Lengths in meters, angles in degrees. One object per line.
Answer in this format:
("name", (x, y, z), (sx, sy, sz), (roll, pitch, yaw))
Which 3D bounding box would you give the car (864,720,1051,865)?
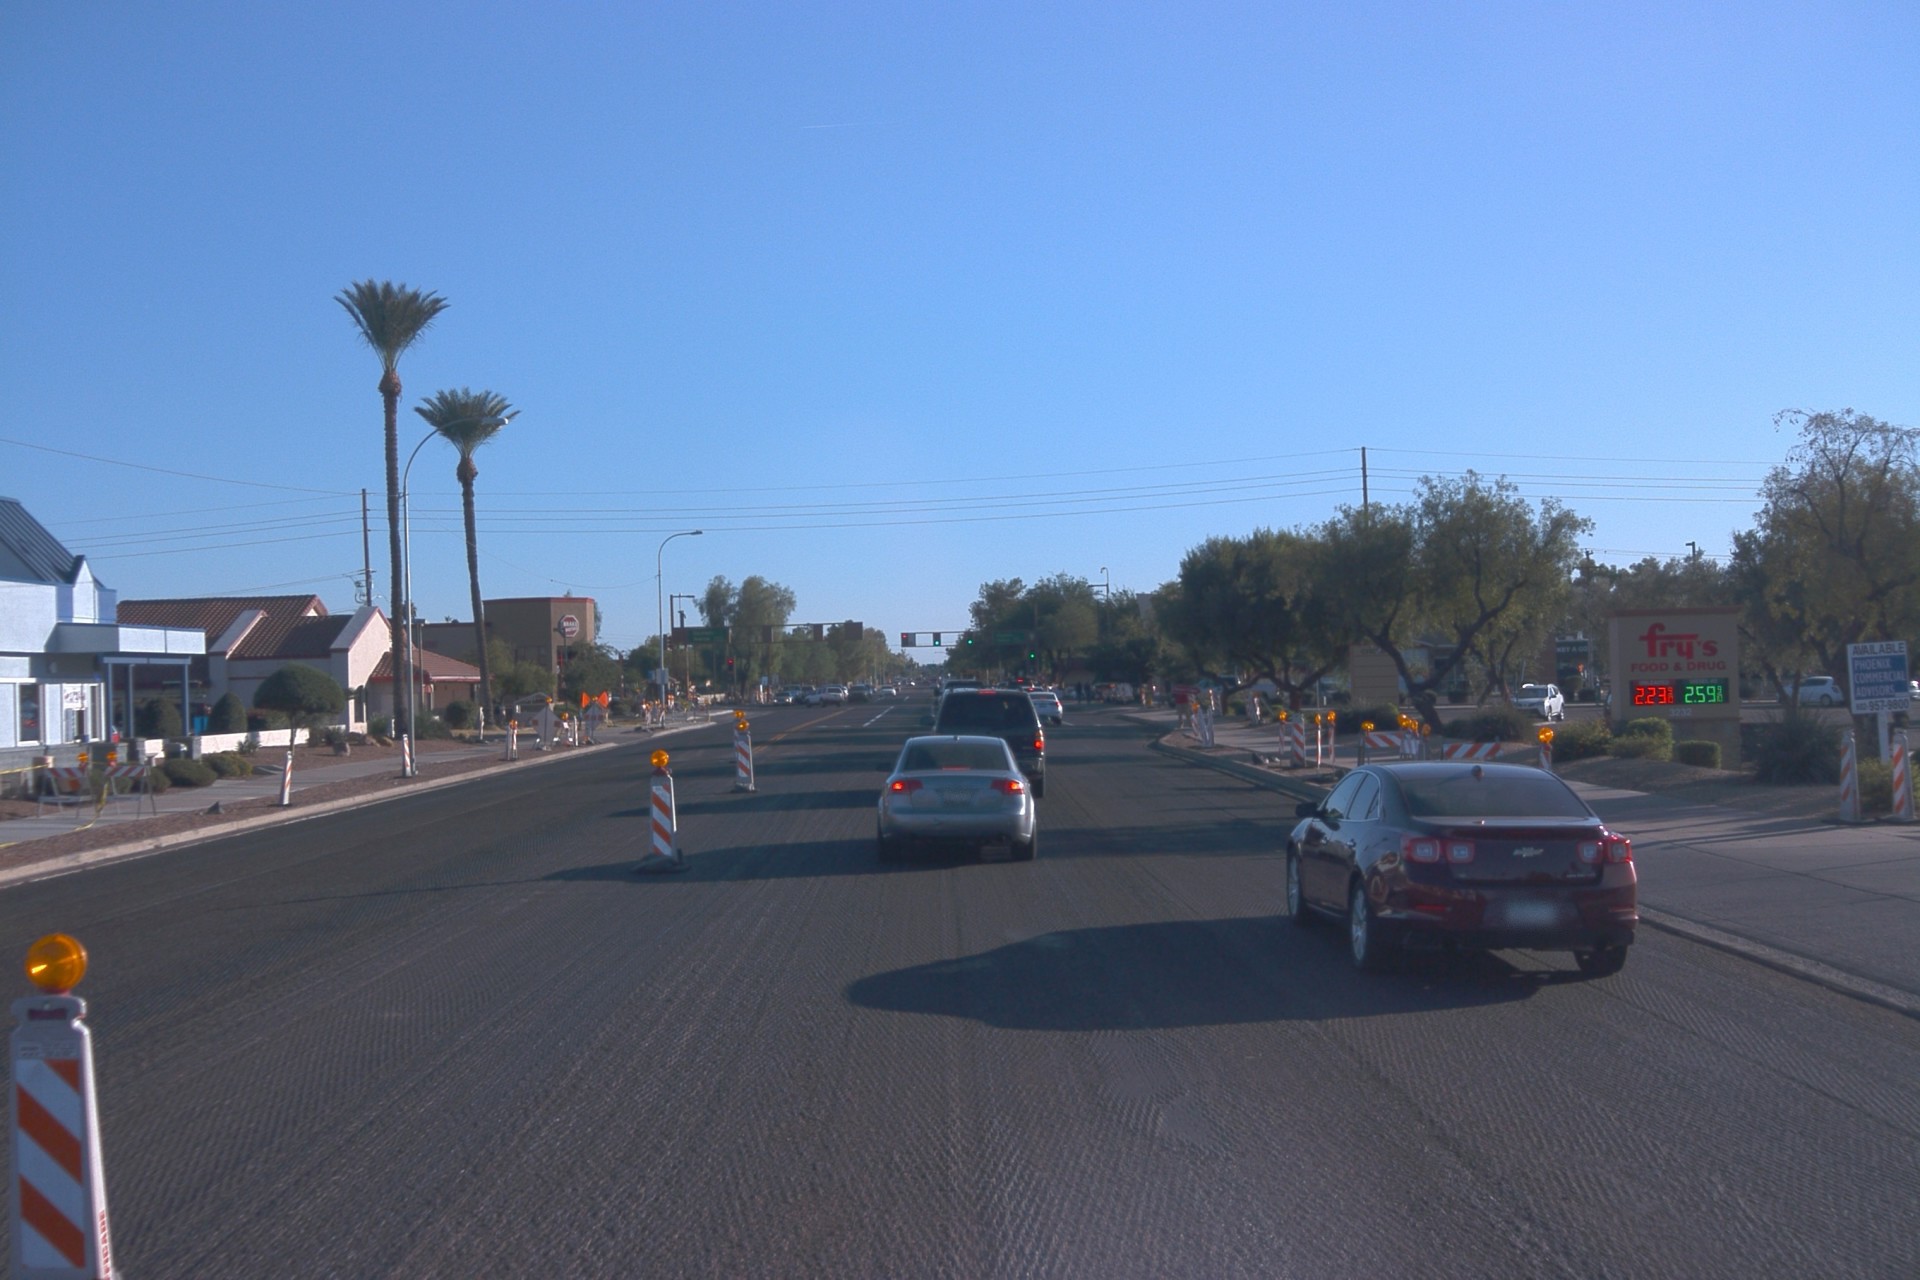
("car", (-0.024, 1.742, 24.764), (2.033, 1.480, 4.403), (0, -1, 0))

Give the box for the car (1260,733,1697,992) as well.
("car", (3.720, 1.555, 15.930), (2.110, 1.540, 4.833), (0, -1, 0))

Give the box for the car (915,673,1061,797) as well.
("car", (0.469, 1.612, 36.904), (2.405, 2.040, 5.061), (0, -1, 0))
